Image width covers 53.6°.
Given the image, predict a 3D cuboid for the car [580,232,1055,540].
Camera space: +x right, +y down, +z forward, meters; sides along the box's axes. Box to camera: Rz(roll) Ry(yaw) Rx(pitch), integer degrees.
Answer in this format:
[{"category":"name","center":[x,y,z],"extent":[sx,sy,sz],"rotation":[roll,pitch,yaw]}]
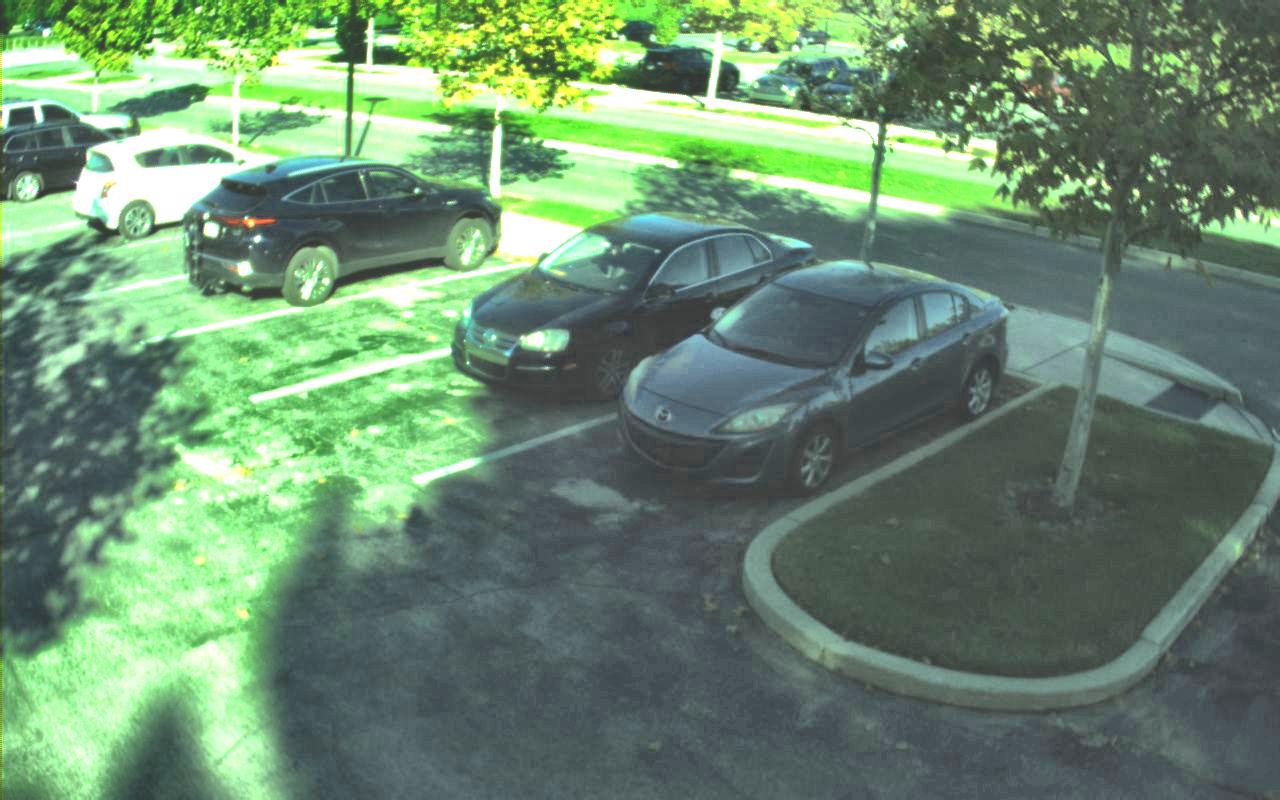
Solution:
[{"category":"car","center":[1.795,-0.364,11.110],"extent":[4.451,1.517,1.917],"rotation":[-16,22,-42]}]

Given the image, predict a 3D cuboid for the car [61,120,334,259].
[{"category":"car","center":[-7.478,-3.616,19.898],"extent":[1.927,1.656,4.399],"rotation":[14,22,41]}]

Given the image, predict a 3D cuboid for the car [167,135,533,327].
[{"category":"car","center":[-3.741,-2.368,16.126],"extent":[1.976,1.713,4.643],"rotation":[12,21,38]}]

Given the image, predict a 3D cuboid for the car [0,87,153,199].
[{"category":"car","center":[-13.272,-5.681,24.748],"extent":[2.032,1.777,4.780],"rotation":[14,23,42]}]

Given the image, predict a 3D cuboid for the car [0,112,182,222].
[{"category":"car","center":[-11.604,-4.736,22.916],"extent":[1.934,1.557,4.477],"rotation":[15,23,43]}]

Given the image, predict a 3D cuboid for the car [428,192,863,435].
[{"category":"car","center":[0.207,-1.096,13.189],"extent":[4.441,1.551,1.925],"rotation":[-16,22,-41]}]
